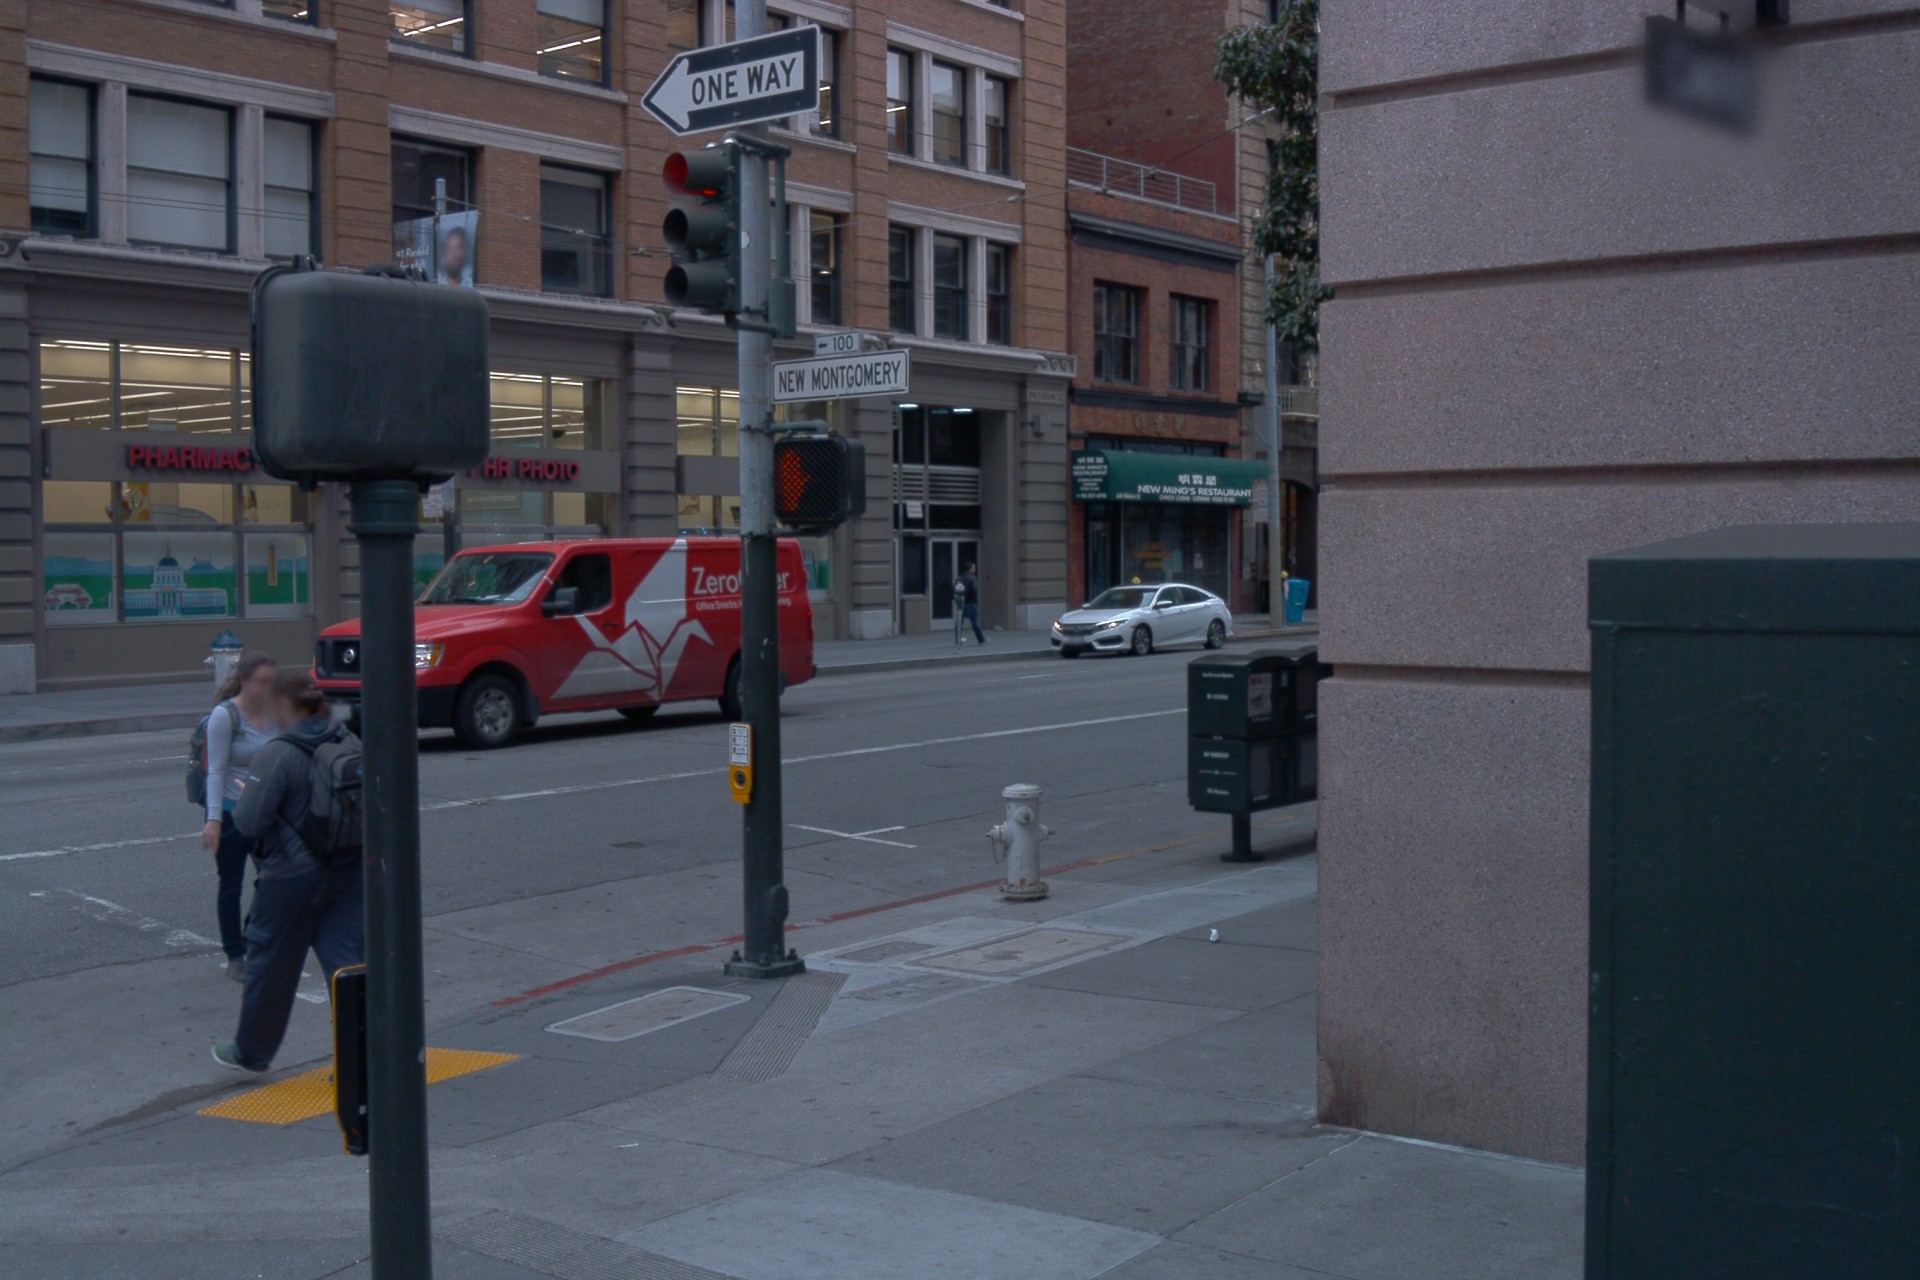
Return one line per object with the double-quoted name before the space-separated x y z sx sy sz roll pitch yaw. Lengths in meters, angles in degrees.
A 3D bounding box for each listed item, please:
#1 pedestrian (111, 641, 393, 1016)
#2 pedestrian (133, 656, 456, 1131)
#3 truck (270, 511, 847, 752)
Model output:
"pedestrian" -3.599 0.896 10.501 1.086 1.765 0.922 0 1 40
"pedestrian" -2.770 0.976 8.575 1.155 1.800 0.781 1 1 41
"truck" -4.099 -0.106 22.290 2.356 2.240 6.072 0 1 38
